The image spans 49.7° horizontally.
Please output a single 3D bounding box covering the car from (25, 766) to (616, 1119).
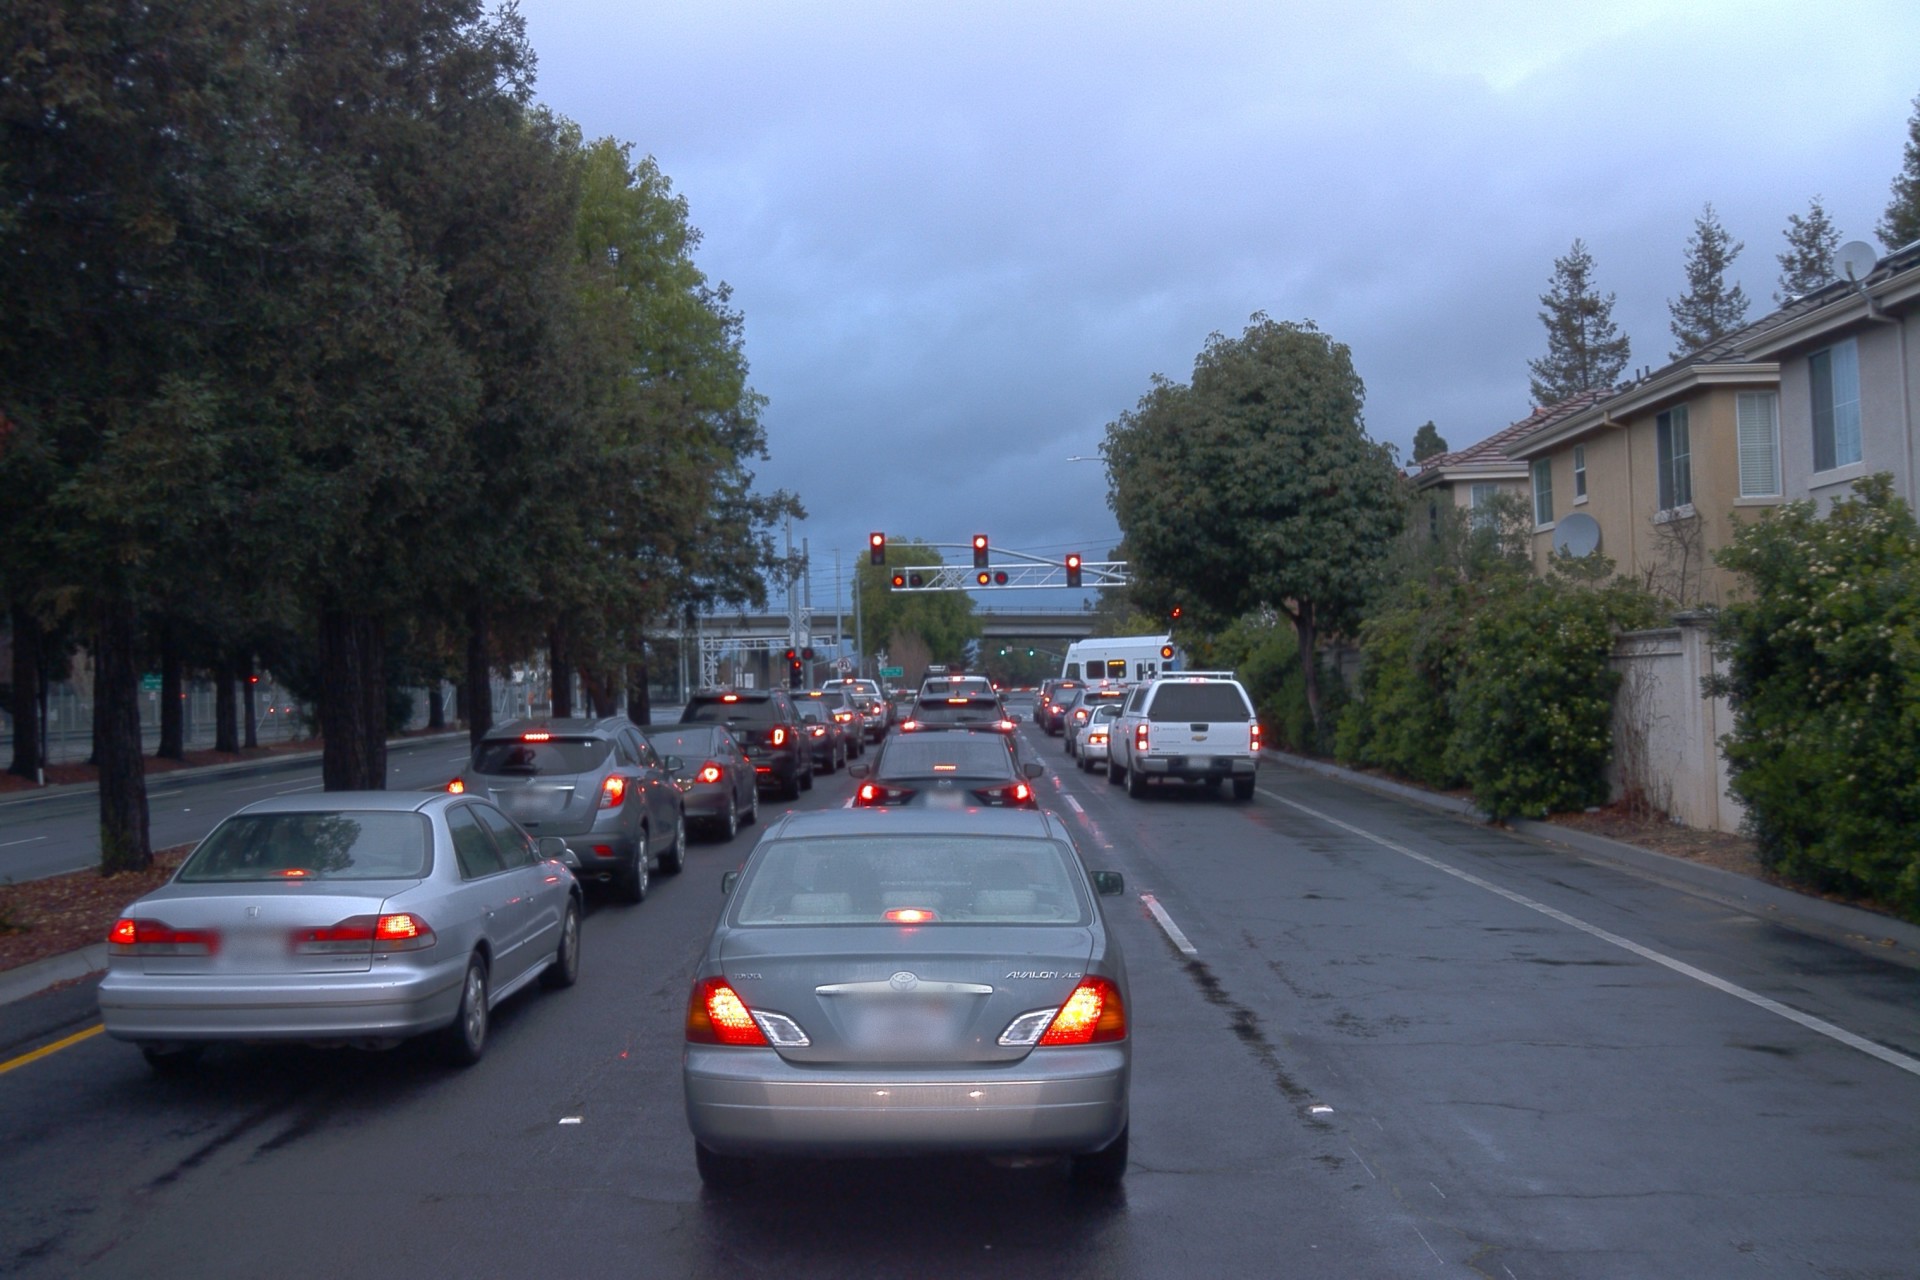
[{"bbox_3d":[-3.454,1.590,12.244,2.021,1.480,4.541,0,-1,1],"label":"car"}]

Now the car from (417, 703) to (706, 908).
[{"bbox_3d":[-3.692,1.487,19.941,1.936,1.700,4.080,0,-1,1],"label":"car"}]

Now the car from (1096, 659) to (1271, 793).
[{"bbox_3d":[3.626,1.369,34.828,2.216,2.050,5.937,0,-1,-1],"label":"car"}]

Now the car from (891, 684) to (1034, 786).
[{"bbox_3d":[0.005,1.536,34.661,2.231,1.560,4.585,0,-1,-1],"label":"car"}]

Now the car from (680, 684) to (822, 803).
[{"bbox_3d":[-3.362,1.639,34.149,2.021,1.810,4.543,0,-1,-2],"label":"car"}]

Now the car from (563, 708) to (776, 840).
[{"bbox_3d":[-3.598,1.647,26.547,2.021,1.460,4.541,0,-1,1],"label":"car"}]

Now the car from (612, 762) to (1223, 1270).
[{"bbox_3d":[-0.179,1.433,9.502,2.105,1.550,4.676,0,-1,-1],"label":"car"}]

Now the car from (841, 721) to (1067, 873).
[{"bbox_3d":[-0.115,1.532,21.357,2.081,1.290,4.552,0,-1,-1],"label":"car"}]
